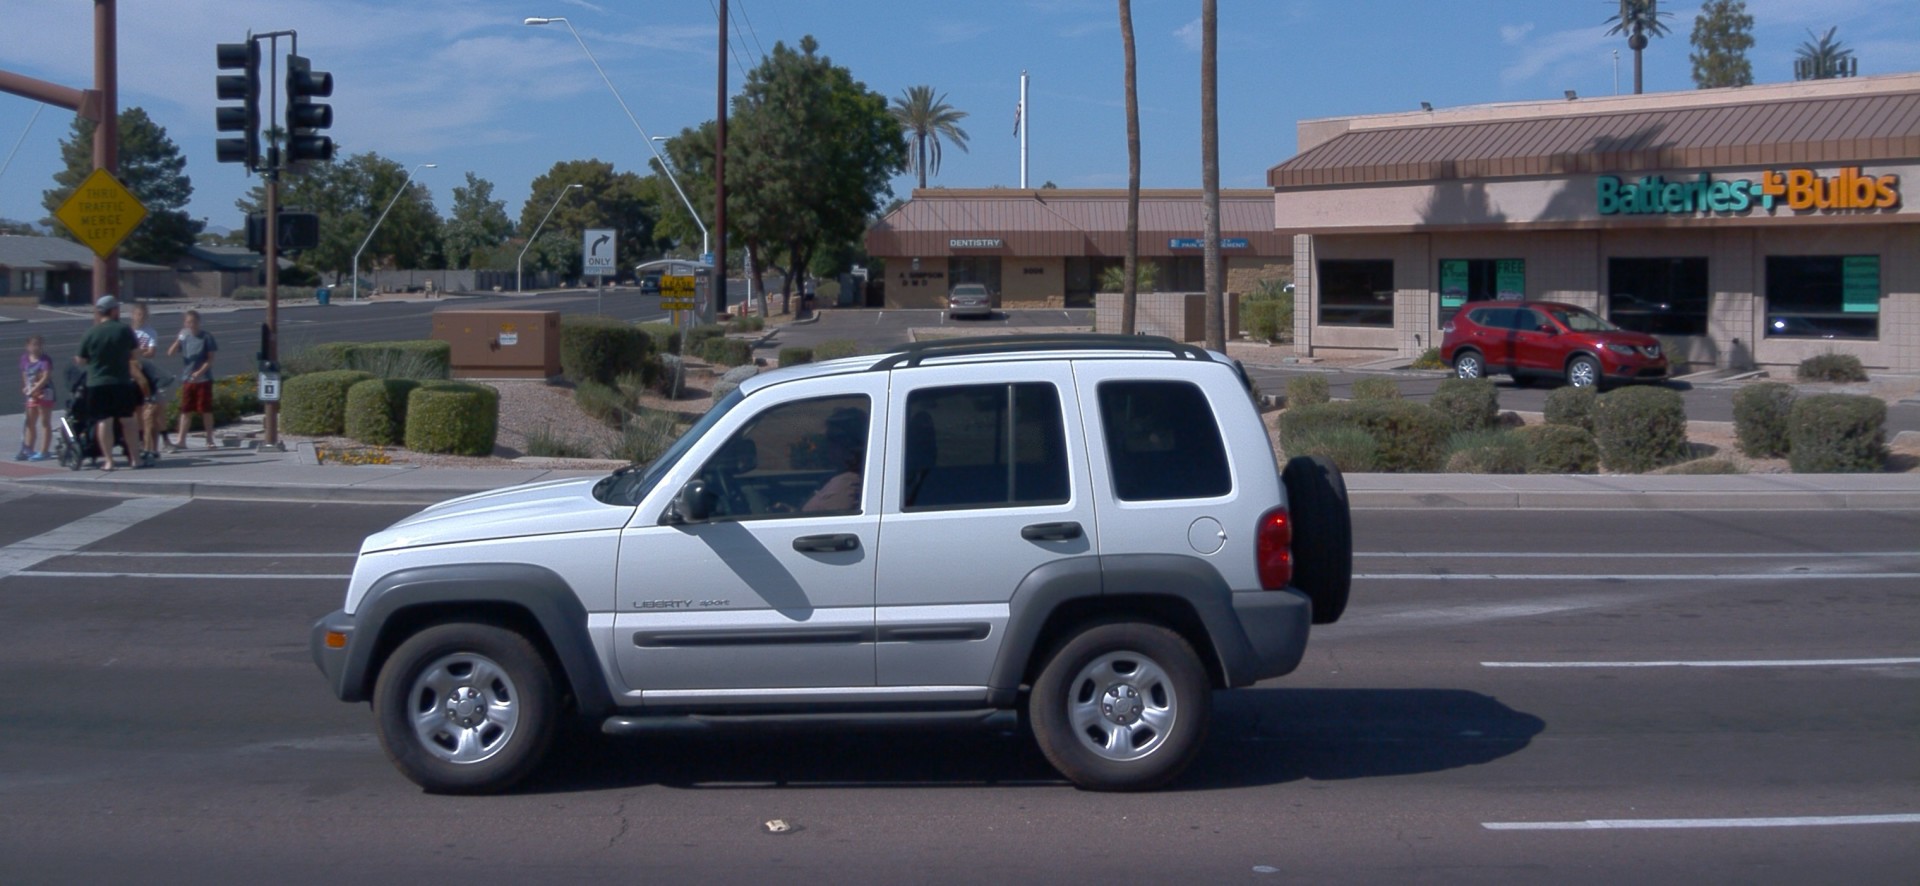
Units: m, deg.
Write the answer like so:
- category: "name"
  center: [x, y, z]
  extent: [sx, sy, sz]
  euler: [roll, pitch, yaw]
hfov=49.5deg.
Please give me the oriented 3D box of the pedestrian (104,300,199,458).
- category: "pedestrian"
  center: [-9.001, -0.731, 23.200]
  extent: [0.684, 1.711, 0.702]
  euler: [0, 1, 25]

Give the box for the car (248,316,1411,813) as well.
- category: "car"
  center: [-0.509, 0.400, 9.113]
  extent: [4.506, 1.828, 2.049]
  euler: [0, 3, -2]

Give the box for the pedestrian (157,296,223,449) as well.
- category: "pedestrian"
  center: [-8.759, -0.816, 23.716]
  extent: [0.658, 1.711, 0.496]
  euler: [0, 0, -14]

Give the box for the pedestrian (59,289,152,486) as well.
- category: "pedestrian"
  center: [-8.662, -0.585, 21.127]
  extent: [0.765, 1.941, 0.564]
  euler: [-1, 0, -35]

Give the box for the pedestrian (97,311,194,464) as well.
- category: "pedestrian"
  center: [-8.715, -0.614, 22.314]
  extent: [0.637, 1.580, 0.763]
  euler: [0, 1, 13]
